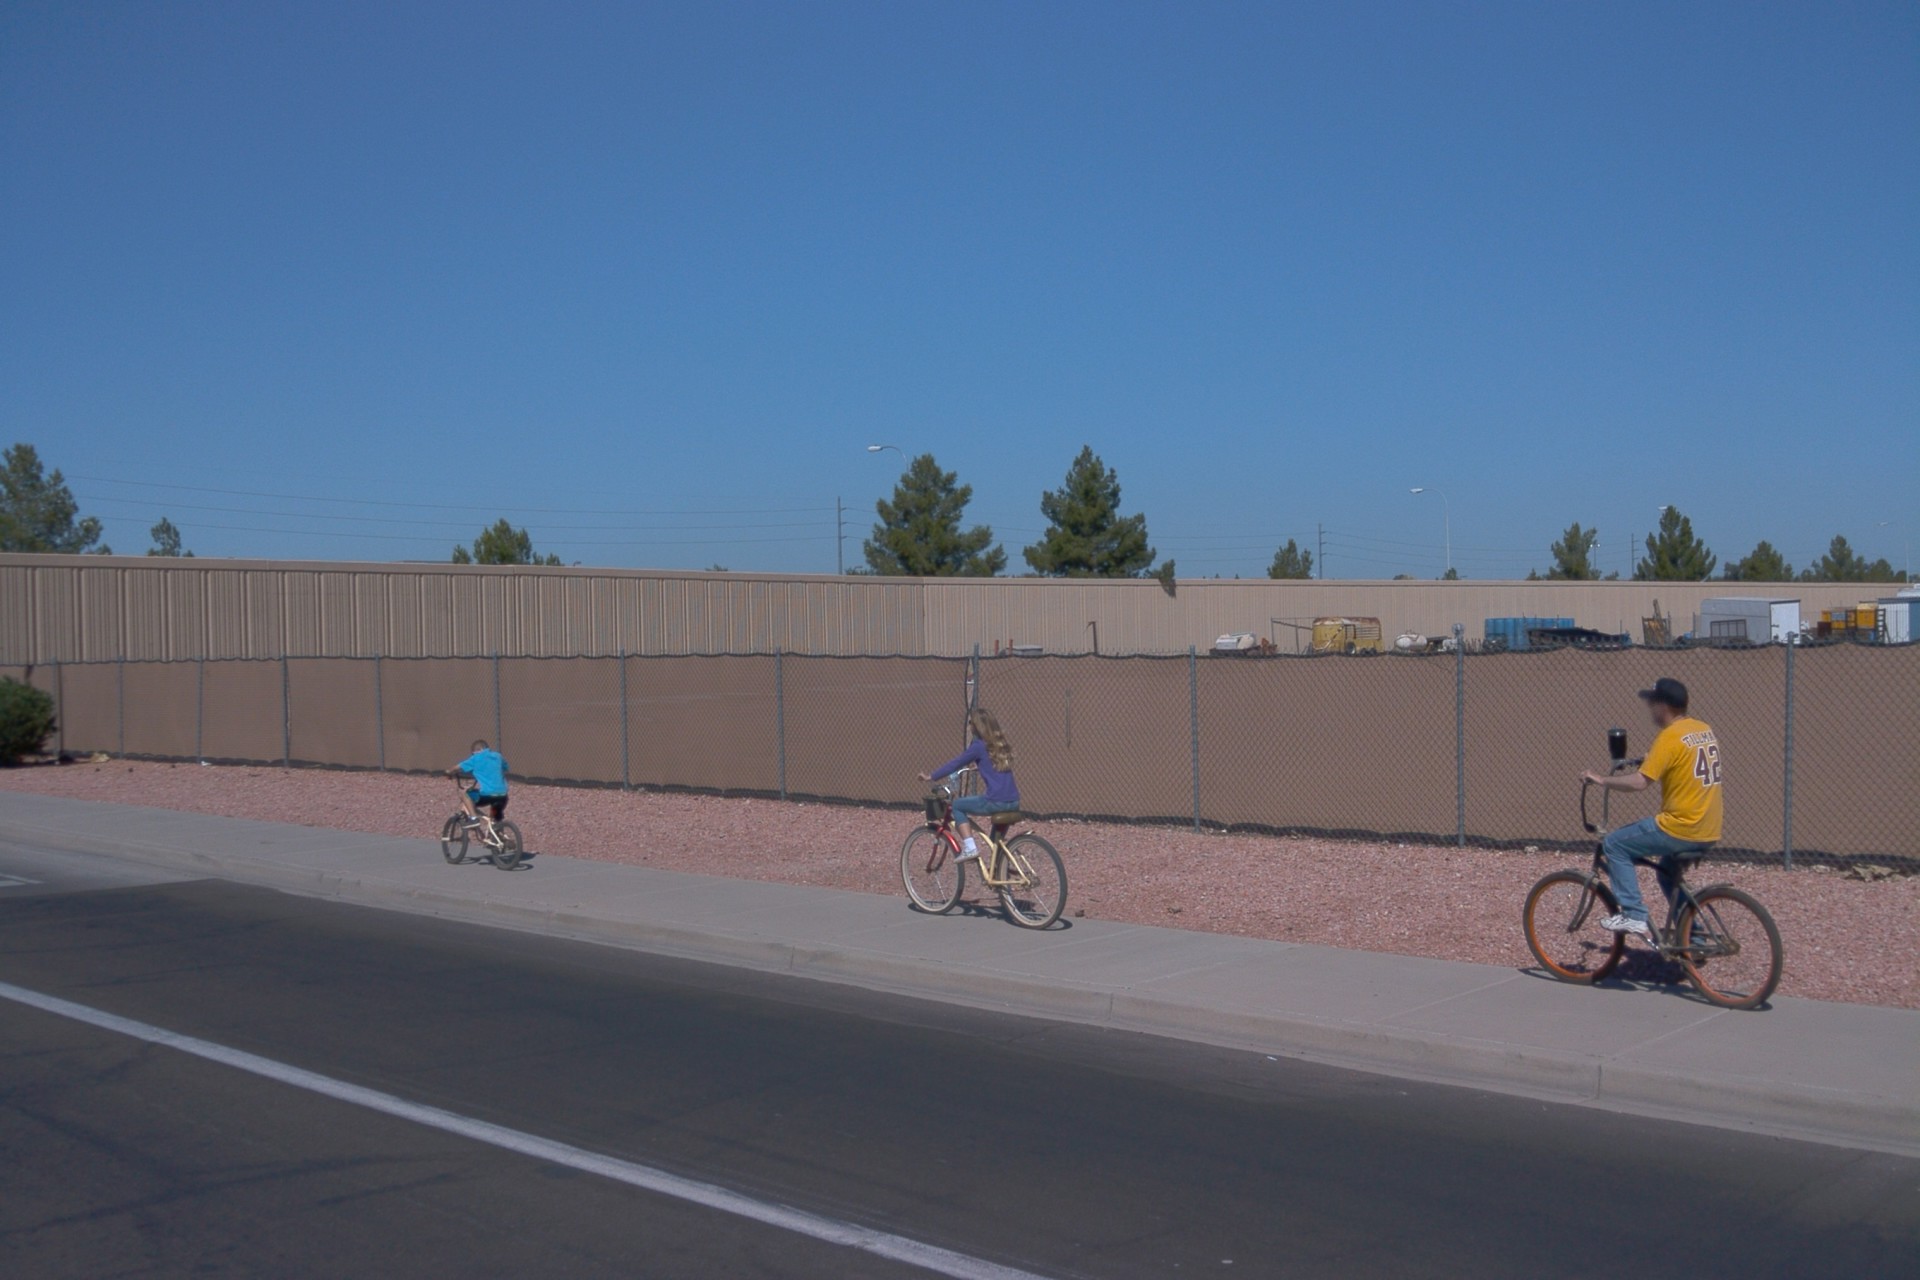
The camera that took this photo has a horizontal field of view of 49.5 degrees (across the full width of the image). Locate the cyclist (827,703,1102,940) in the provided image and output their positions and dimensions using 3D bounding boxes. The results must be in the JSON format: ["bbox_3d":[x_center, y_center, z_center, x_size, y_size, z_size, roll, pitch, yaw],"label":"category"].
[{"bbox_3d":[0.006,1.246,14.954,0.813,1.570,1.967,0,-1,-44],"label":"cyclist"}]

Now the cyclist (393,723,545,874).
[{"bbox_3d":[-4.548,1.438,19.232,1.444,1.320,0.670,-2,-1,43],"label":"cyclist"}]

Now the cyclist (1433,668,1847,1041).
[{"bbox_3d":[3.708,1.102,11.482,0.933,1.860,1.937,0,-1,-41],"label":"cyclist"}]
